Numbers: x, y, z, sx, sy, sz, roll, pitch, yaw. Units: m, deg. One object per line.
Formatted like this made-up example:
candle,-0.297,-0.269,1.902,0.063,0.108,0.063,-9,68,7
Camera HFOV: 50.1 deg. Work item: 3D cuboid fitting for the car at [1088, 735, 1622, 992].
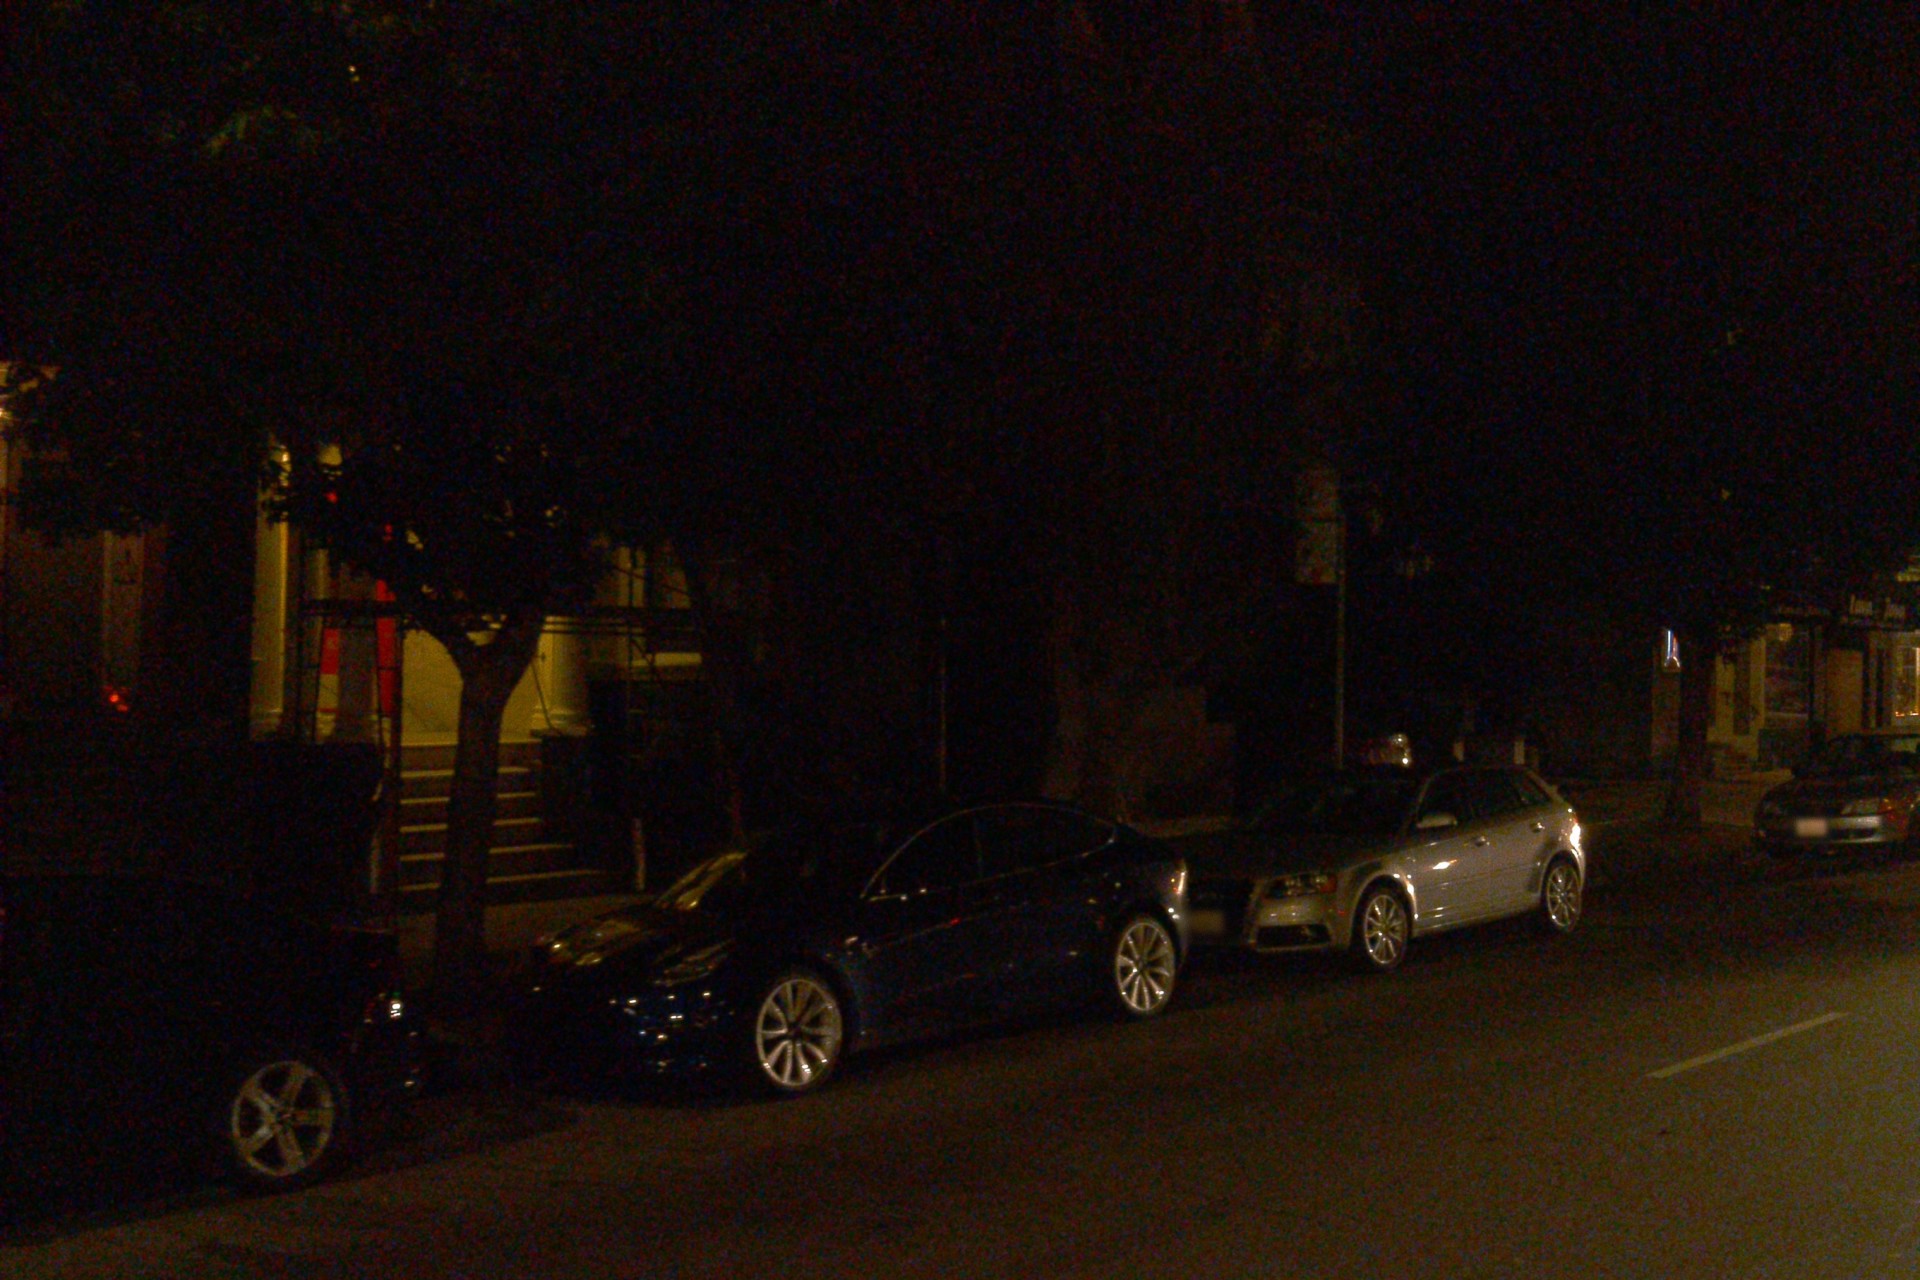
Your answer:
car,3.115,1.549,15.543,1.948,1.390,4.407,2,1,42

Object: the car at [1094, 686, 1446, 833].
car,3.718,1.384,24.989,3.789,1.470,1.942,2,1,43

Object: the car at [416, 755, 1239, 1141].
car,-0.541,1.538,11.753,2.008,1.420,4.636,2,1,41
